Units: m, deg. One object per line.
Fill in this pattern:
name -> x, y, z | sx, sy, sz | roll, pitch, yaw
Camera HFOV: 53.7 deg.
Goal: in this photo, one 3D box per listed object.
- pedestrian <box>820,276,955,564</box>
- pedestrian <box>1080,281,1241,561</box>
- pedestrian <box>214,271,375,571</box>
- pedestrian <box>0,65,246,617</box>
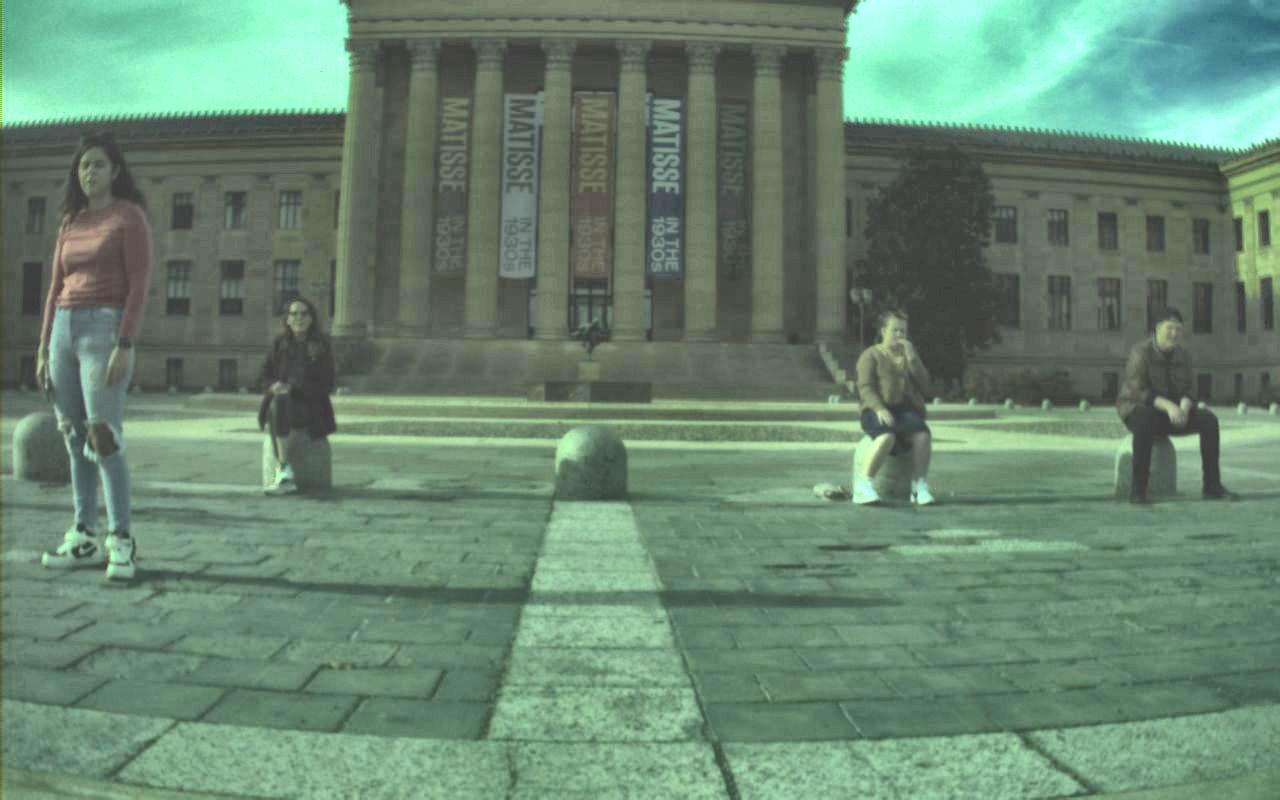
pedestrian -> 1.586, 0.118, 7.959 | 0.804, 1.755, 0.808 | 0, 0, 11
pedestrian -> 3.478, 0.143, 7.847 | 0.836, 1.761, 0.844 | 0, 0, -1
pedestrian -> -2.189, 0.123, 7.743 | 0.839, 1.798, 0.835 | 0, 0, 1
pedestrian -> -1.973, -0.199, 4.185 | 0.766, 1.802, 0.779 | 1, 0, 18
